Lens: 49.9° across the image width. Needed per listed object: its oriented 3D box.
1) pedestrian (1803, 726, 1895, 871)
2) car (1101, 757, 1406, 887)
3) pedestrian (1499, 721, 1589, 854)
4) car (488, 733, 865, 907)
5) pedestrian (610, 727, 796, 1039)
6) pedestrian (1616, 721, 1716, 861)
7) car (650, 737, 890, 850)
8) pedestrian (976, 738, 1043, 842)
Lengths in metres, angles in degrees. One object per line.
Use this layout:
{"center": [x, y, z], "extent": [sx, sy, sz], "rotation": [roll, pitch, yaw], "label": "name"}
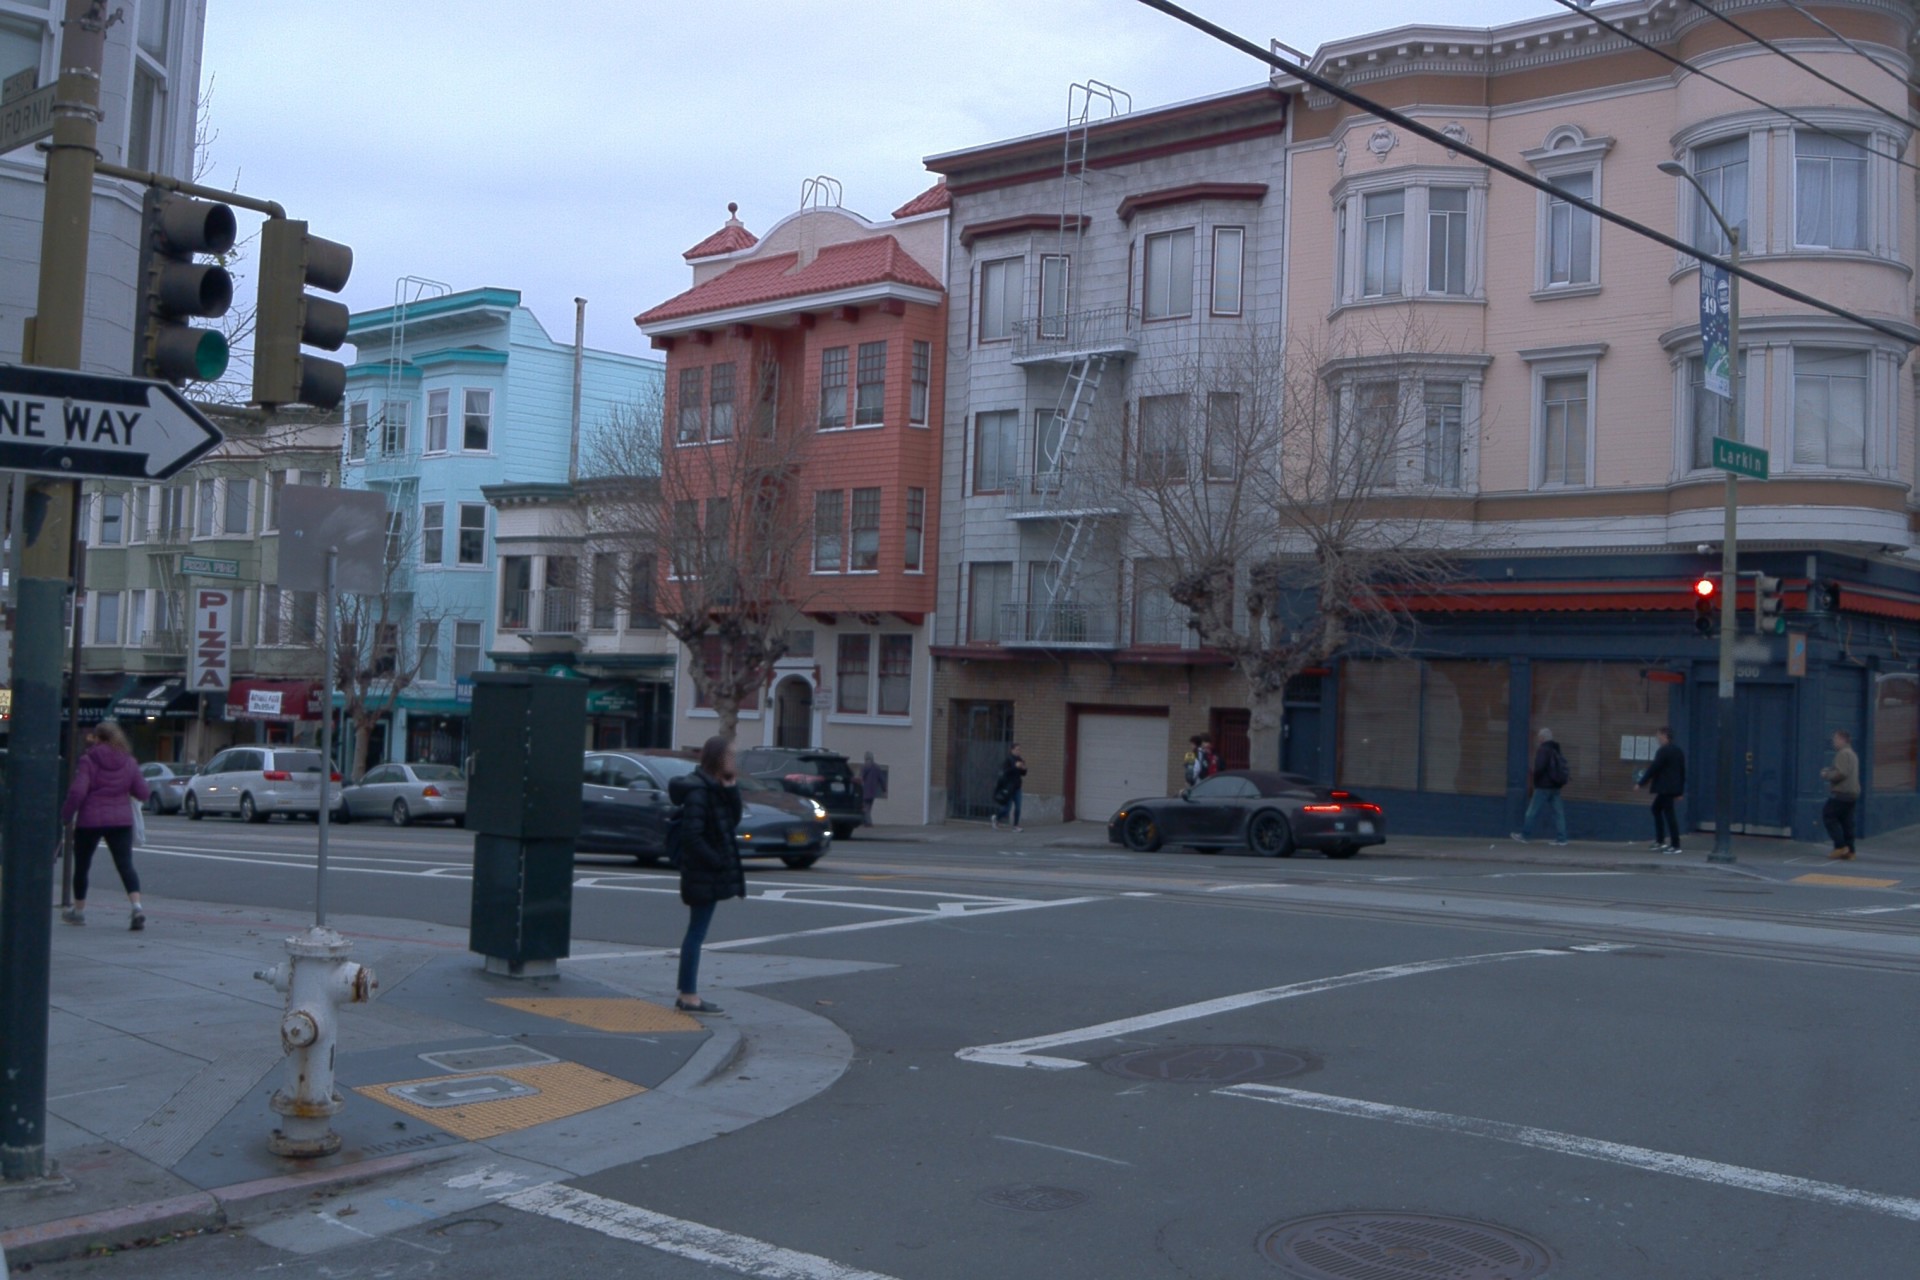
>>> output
{"center": [12.358, 2.182, 28.705], "extent": [0.946, 1.900, 0.789], "rotation": [1, 1, 43], "label": "pedestrian"}
{"center": [4.283, 2.627, 30.587], "extent": [1.947, 1.460, 4.186], "rotation": [-1, 1, -43], "label": "car"}
{"center": [9.013, 2.258, 31.865], "extent": [1.100, 1.930, 0.772], "rotation": [1, 1, 45], "label": "pedestrian"}
{"center": [-3.544, 2.109, 25.266], "extent": [4.698, 1.630, 2.074], "rotation": [1, 1, 43], "label": "car"}
{"center": [-1.514, 1.392, 12.138], "extent": [0.846, 1.692, 0.707], "rotation": [-1, 1, -35], "label": "pedestrian"}
{"center": [10.250, 2.168, 29.955], "extent": [1.080, 1.913, 0.903], "rotation": [1, 1, 44], "label": "pedestrian"}
{"center": [-3.620, 2.829, 38.770], "extent": [4.423, 1.700, 2.100], "rotation": [1, 1, 44], "label": "car"}
{"center": [0.907, 2.744, 37.882], "extent": [0.938, 1.800, 0.779], "rotation": [1, 1, 43], "label": "pedestrian"}
